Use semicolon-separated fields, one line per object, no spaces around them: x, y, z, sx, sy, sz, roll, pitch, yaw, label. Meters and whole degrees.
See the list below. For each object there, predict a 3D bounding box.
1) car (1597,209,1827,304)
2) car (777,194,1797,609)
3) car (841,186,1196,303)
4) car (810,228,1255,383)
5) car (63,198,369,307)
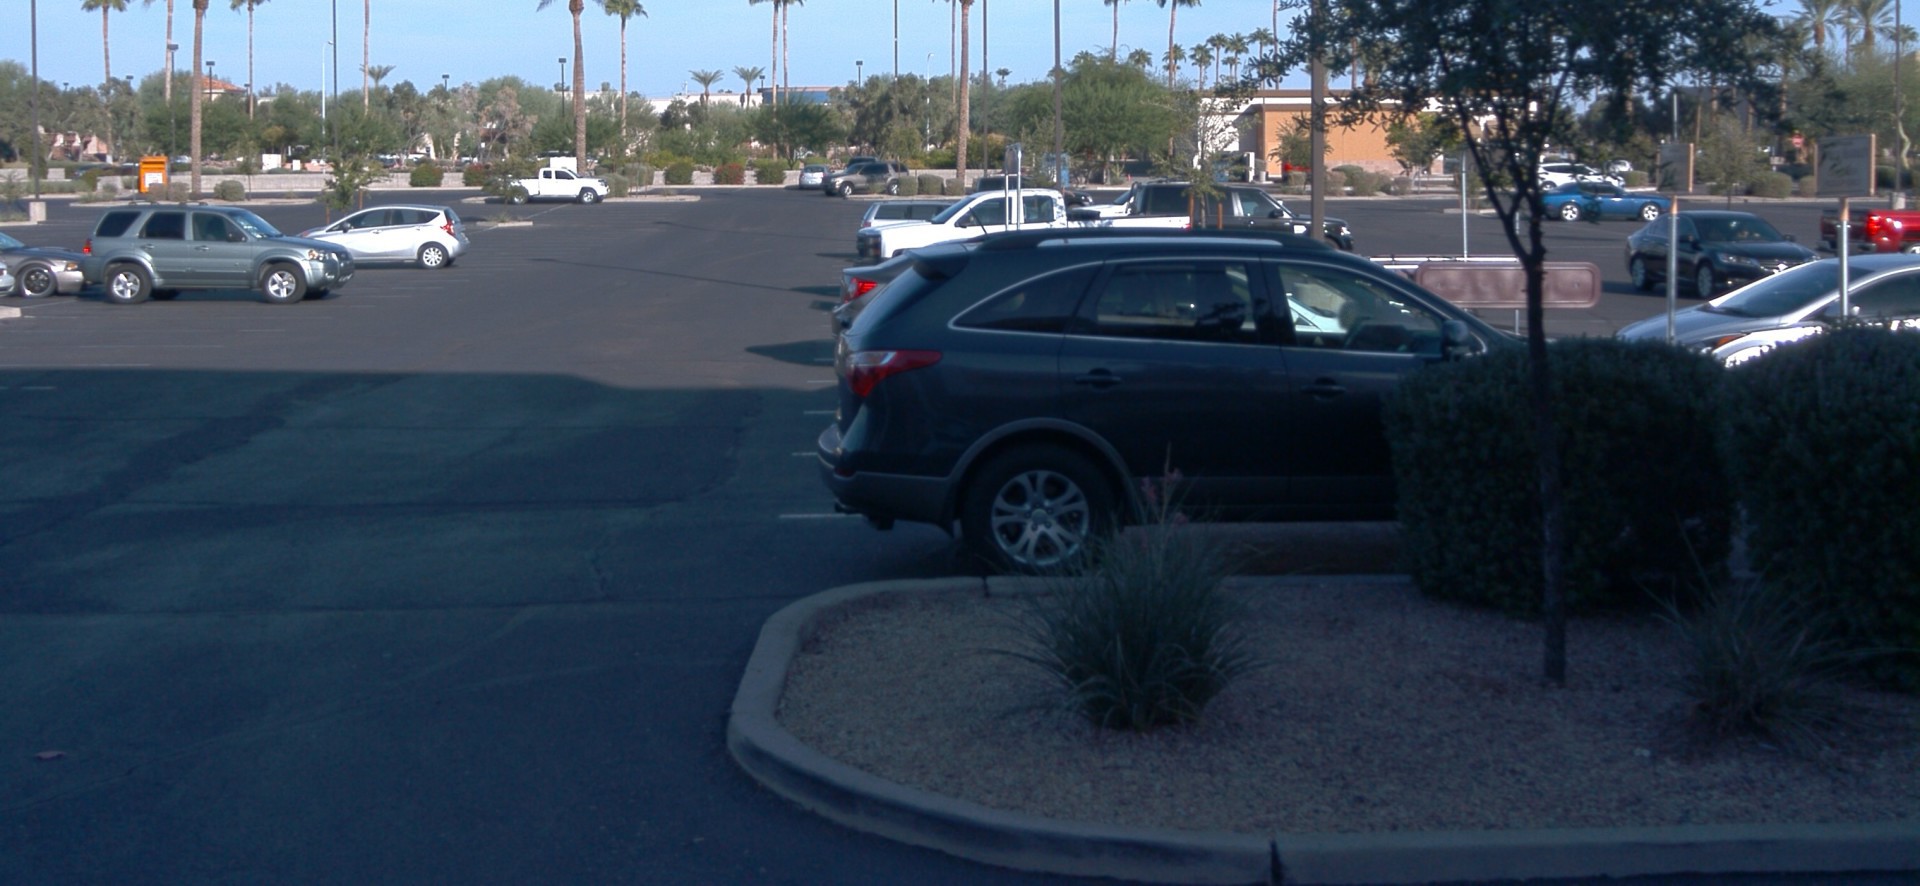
12.837;-3.264;35.744;1.998;1.491;4.779;0;6;-3;car
1.562;-0.354;11.287;5.084;1.983;2.251;-1;4;-5;car
0.949;-3.486;36.030;5.889;1.943;2.294;-1;4;-7;car
0.703;-1.553;22.696;4.616;1.554;2.213;-1;5;-6;car
-12.726;-3.304;35.655;4.496;1.814;2.046;0;4;1;car
